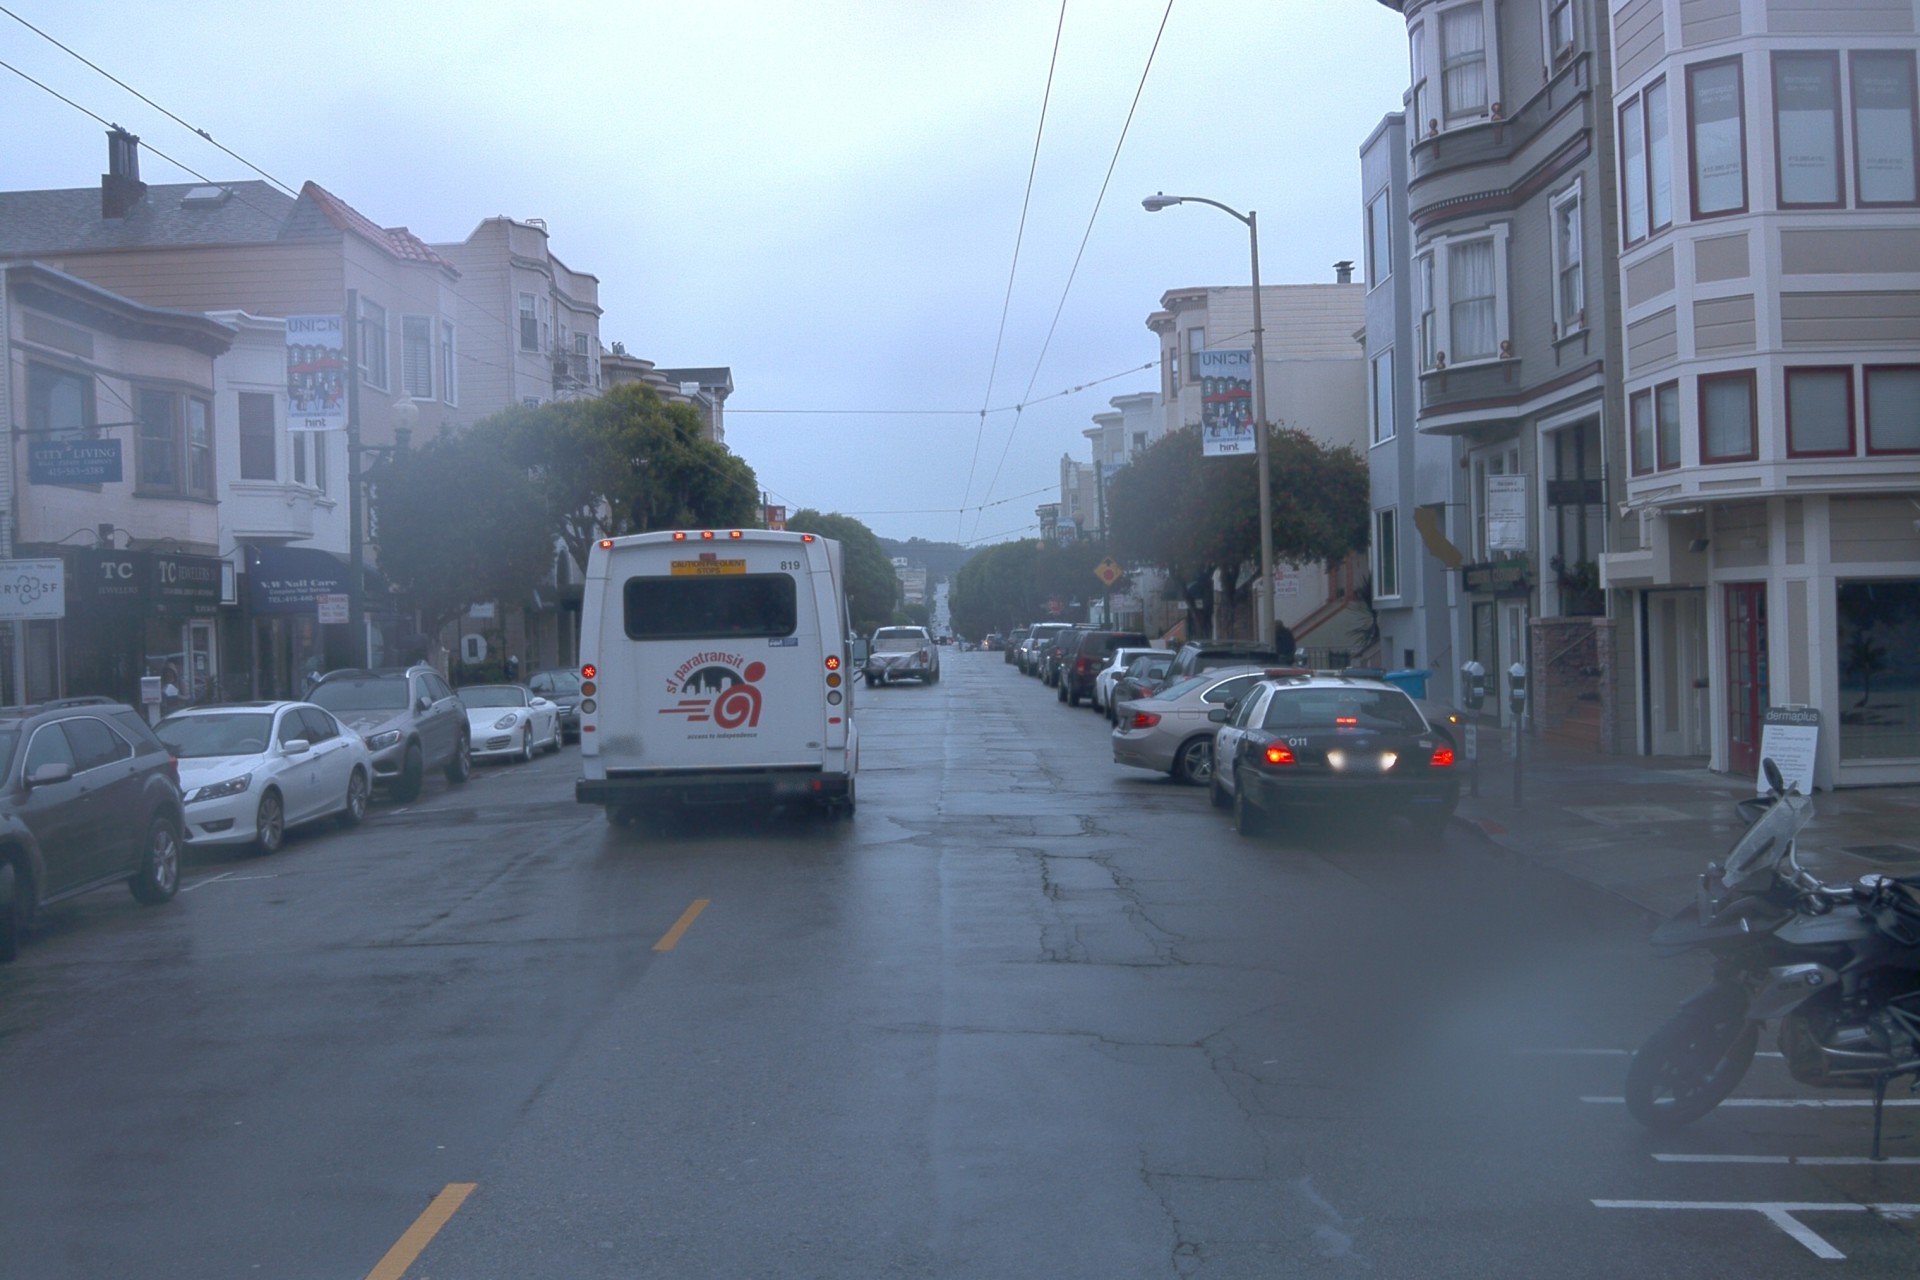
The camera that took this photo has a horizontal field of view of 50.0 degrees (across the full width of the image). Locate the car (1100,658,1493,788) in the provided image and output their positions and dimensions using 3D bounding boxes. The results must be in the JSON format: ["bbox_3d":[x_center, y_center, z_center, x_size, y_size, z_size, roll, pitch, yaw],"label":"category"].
[{"bbox_3d":[4.080,1.001,25.476,4.457,1.470,1.877,1,1,-4],"label":"car"}]

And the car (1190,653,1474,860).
[{"bbox_3d":[3.545,1.034,20.688,2.108,1.690,5.363,1,1,3],"label":"car"}]

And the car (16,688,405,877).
[{"bbox_3d":[-7.603,1.376,21.554,2.131,1.540,5.132,1,1,1],"label":"car"}]

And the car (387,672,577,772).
[{"bbox_3d":[-7.695,1.284,33.656,2.114,1.370,4.598,1,1,-1],"label":"car"}]

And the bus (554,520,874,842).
[{"bbox_3d":[-2.340,0.333,21.772,2.787,2.850,6.707,1,1,-2],"label":"bus"}]

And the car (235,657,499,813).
[{"bbox_3d":[-7.670,1.164,27.206,2.149,1.760,4.917,1,1,-1],"label":"car"}]
